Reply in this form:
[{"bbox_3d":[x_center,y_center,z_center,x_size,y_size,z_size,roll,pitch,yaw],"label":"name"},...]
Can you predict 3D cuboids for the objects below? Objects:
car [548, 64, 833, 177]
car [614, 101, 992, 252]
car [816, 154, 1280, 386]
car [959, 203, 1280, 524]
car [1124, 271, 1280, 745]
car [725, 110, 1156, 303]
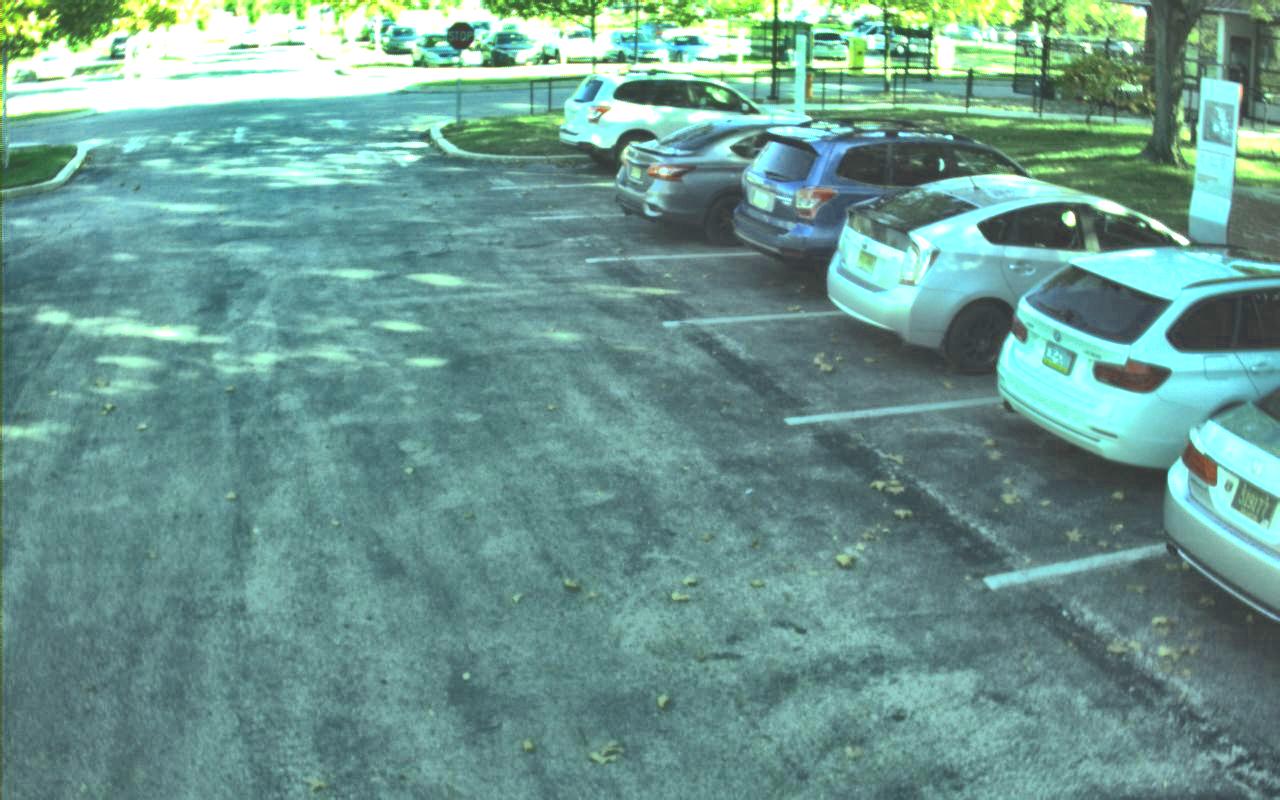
[{"bbox_3d":[0.867,-4.875,21.326,4.500,1.673,1.960,-7,17,-19],"label":"car"},{"bbox_3d":[2.067,-2.921,15.699,4.430,1.561,1.936,-6,17,-15],"label":"car"},{"bbox_3d":[3.896,-1.335,10.895,4.289,1.564,1.894,-6,17,-16],"label":"car"},{"bbox_3d":[4.671,-0.482,8.479,4.369,1.609,1.927,-6,17,-16],"label":"car"},{"bbox_3d":[5.028,0.340,5.908,4.428,1.558,1.930,-6,17,-15],"label":"car"},{"bbox_3d":[3.322,-2.232,13.277,4.425,1.696,1.953,-6,17,-16],"label":"car"}]
